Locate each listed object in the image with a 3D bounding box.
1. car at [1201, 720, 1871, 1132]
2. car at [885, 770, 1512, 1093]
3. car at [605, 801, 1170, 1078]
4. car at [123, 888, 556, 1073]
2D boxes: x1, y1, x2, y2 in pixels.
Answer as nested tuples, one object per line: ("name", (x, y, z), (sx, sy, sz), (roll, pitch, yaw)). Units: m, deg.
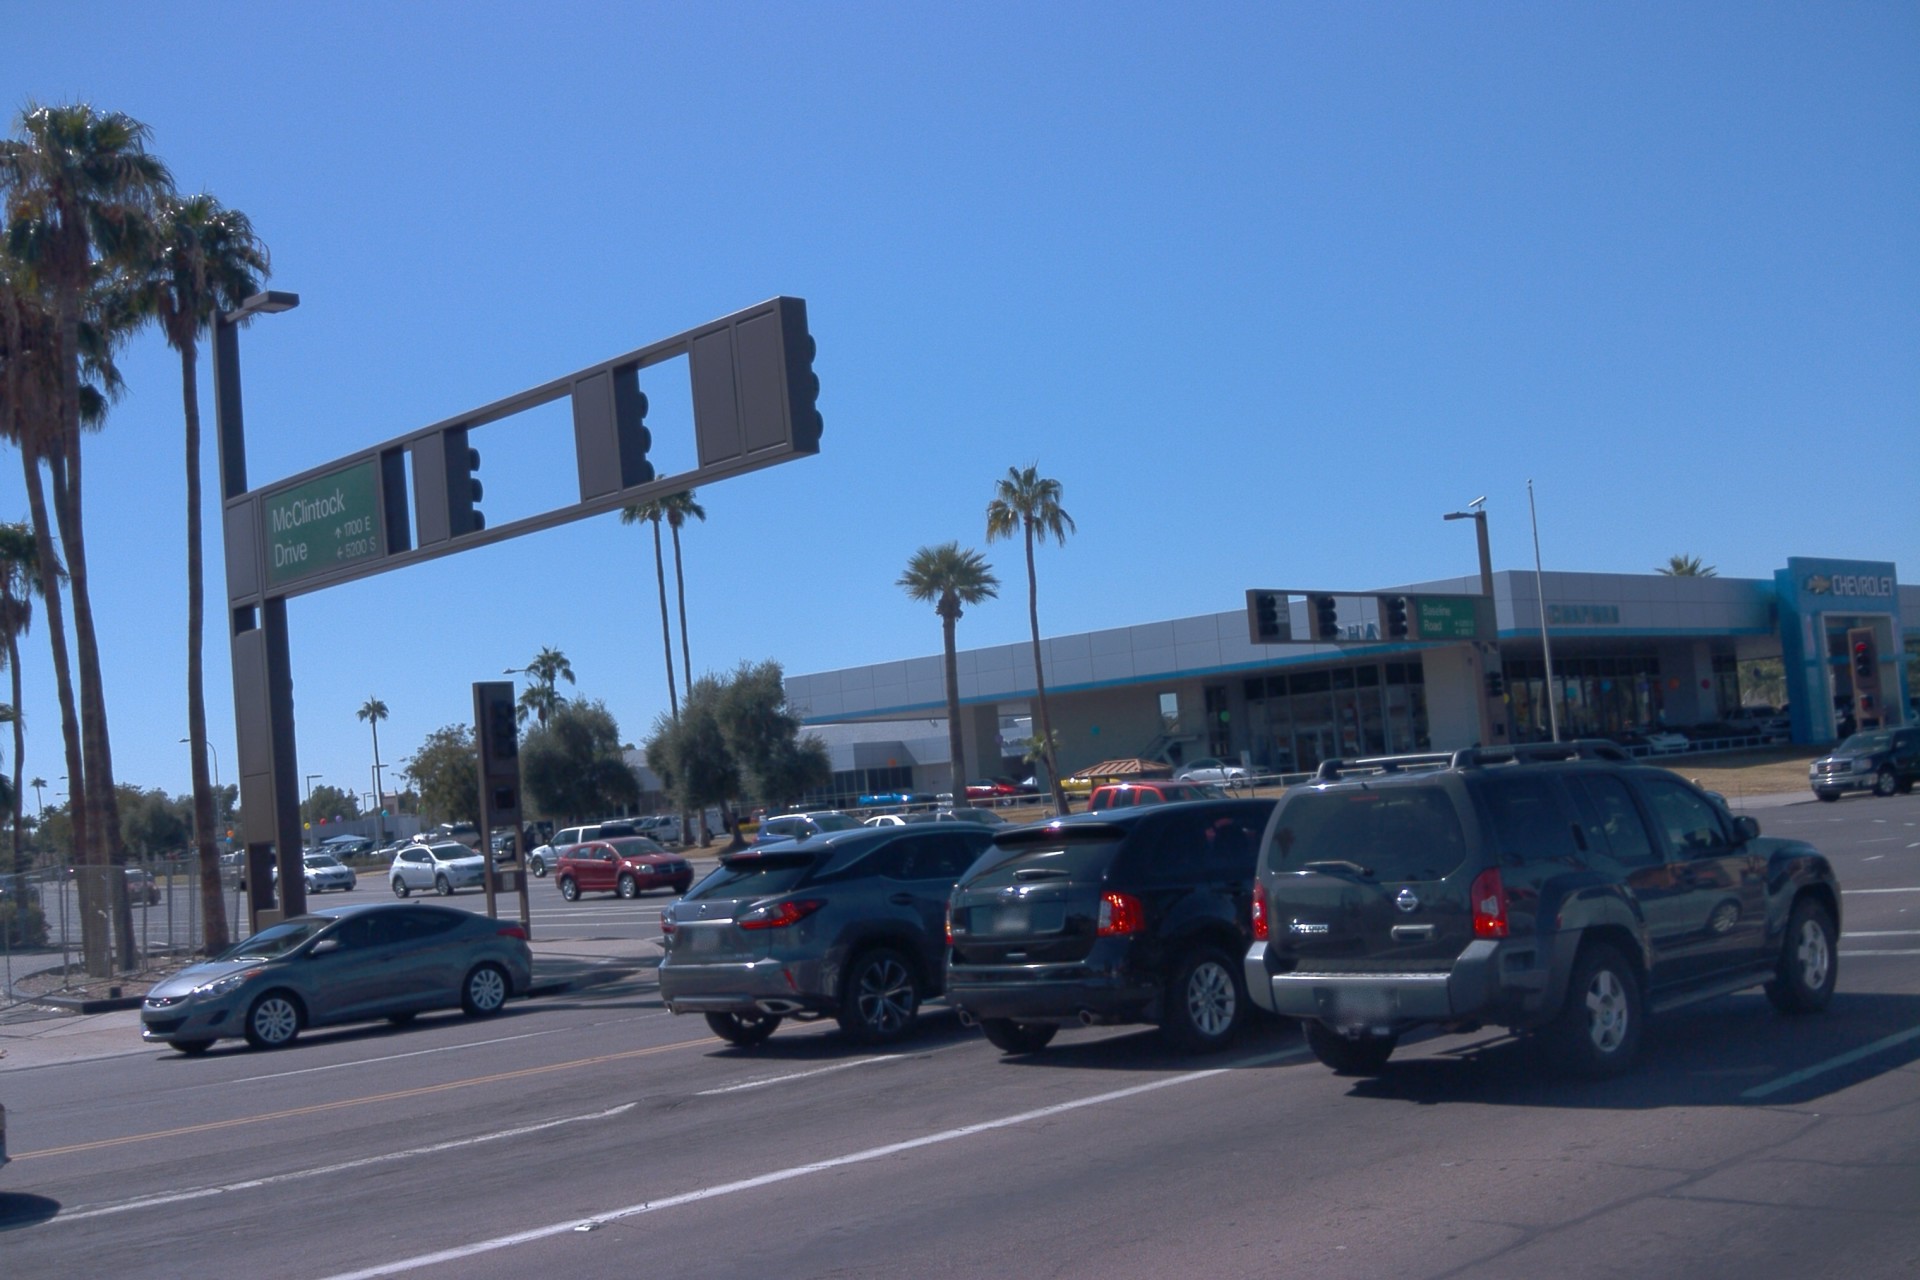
("car", (3.683, 1.542, 12.849), (4.426, 1.951, 1.993), (0, -1, -44))
("car", (1.864, 1.961, 15.302), (4.535, 1.750, 2.126), (0, -1, -43))
("car", (-0.508, 2.368, 17.562), (4.438, 1.700, 2.201), (0, -1, -45))
("car", (-6.883, 3.736, 23.494), (1.937, 1.370, 4.338), (-1, -1, 39))
